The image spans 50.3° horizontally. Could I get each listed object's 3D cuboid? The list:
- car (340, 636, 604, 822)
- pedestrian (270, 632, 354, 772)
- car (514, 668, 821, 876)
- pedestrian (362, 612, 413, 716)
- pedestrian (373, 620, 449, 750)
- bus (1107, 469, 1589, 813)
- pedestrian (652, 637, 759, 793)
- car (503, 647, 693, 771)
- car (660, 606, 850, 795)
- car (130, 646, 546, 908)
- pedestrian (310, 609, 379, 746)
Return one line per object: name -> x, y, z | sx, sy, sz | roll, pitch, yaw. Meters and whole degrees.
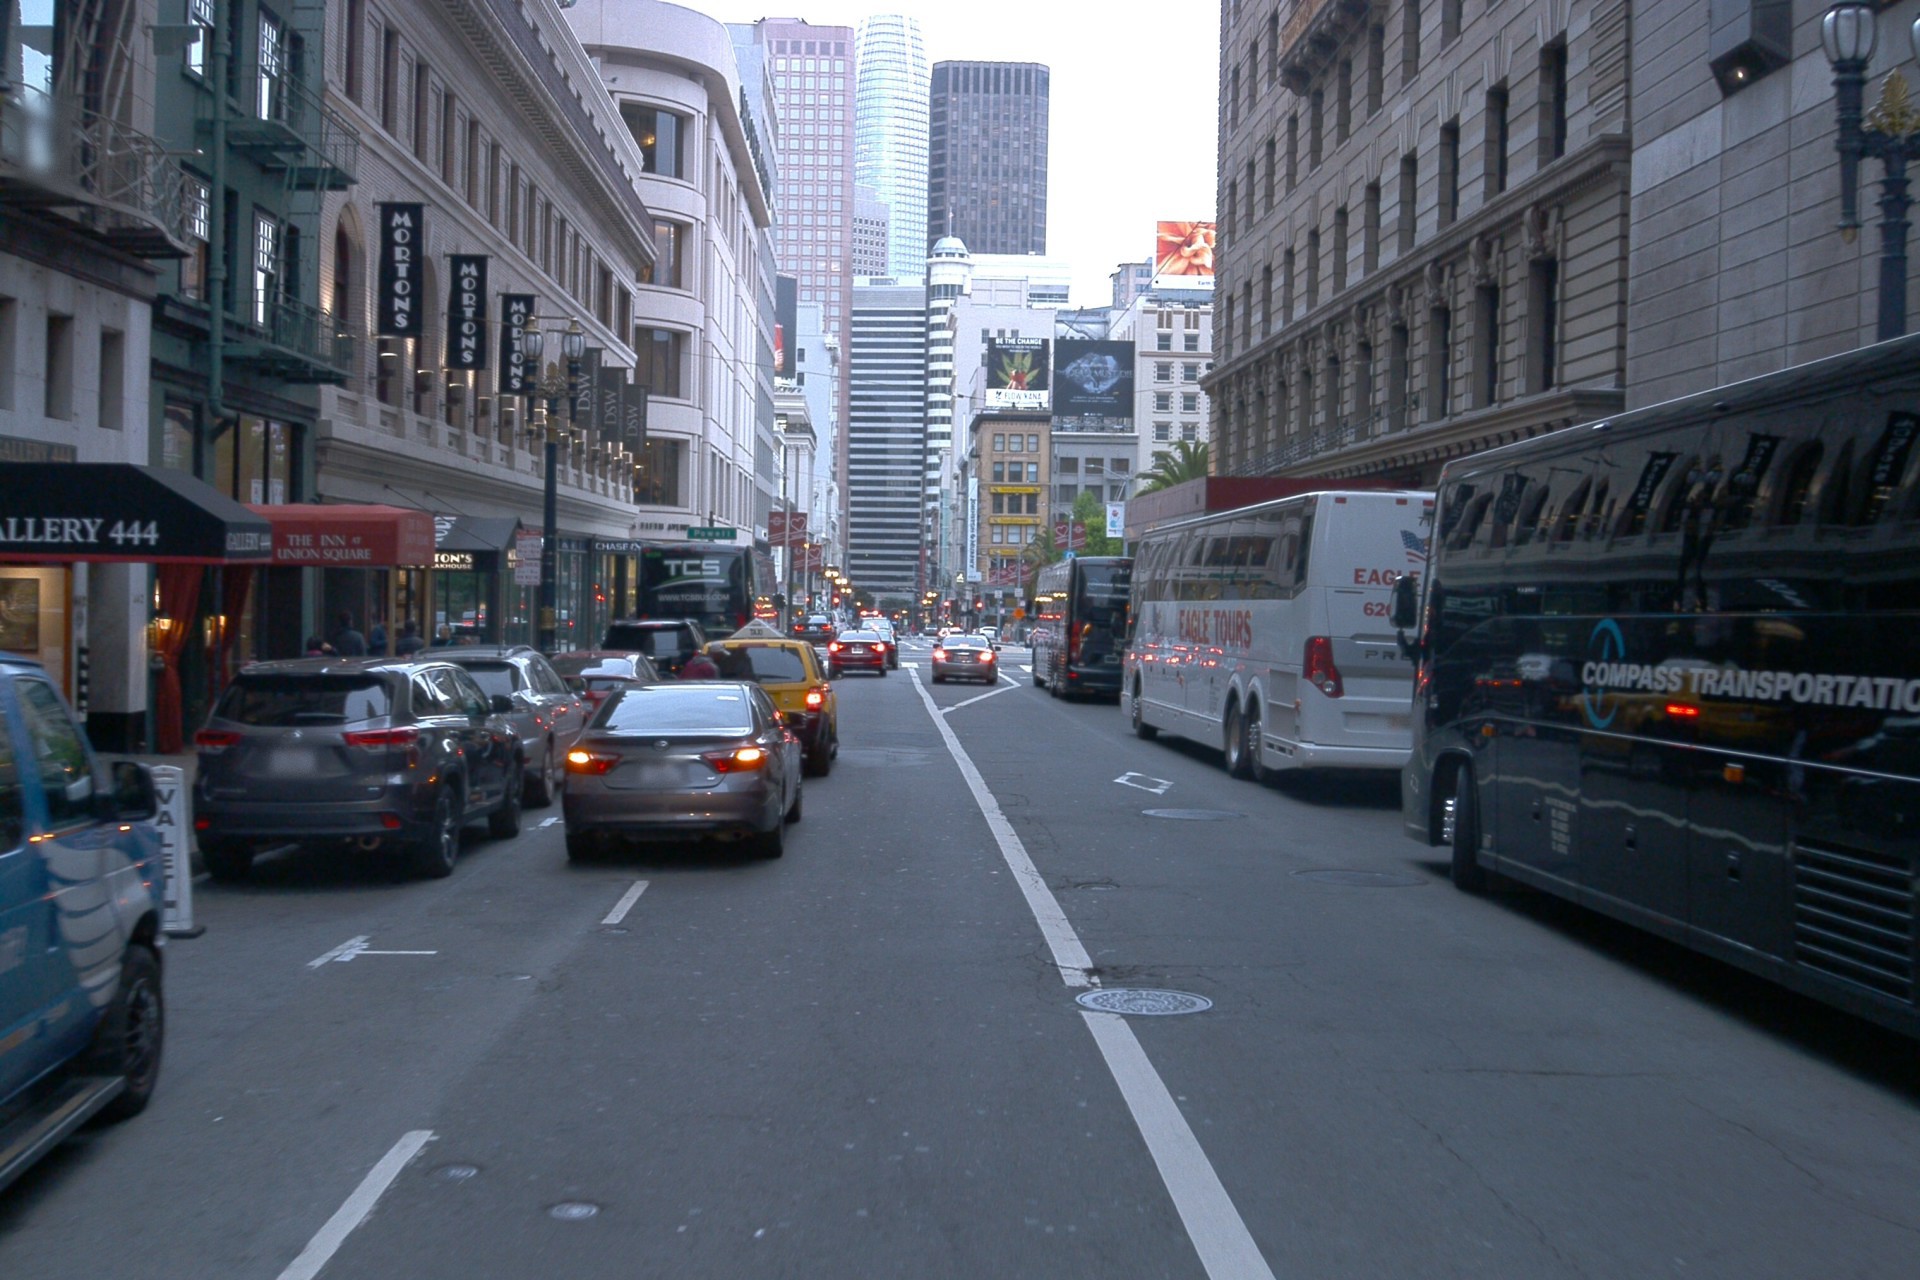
car -> -5.240, 0.882, 22.596 | 2.092, 1.810, 4.552 | 0, 1, -4
pedestrian -> -7.949, 0.749, 25.128 | 0.802, 1.690, 0.869 | 0, 1, -5
car -> -2.451, 1.069, 18.441 | 2.149, 1.510, 4.905 | 0, 1, -1
pedestrian -> -10.166, 0.414, 36.341 | 0.687, 1.830, 0.715 | 0, 1, 2
pedestrian -> -8.115, 0.652, 30.263 | 0.918, 1.900, 0.883 | 0, 1, -3
bus -> 4.792, -0.054, 29.603 | 3.307, 3.770, 14.118 | 0, 1, -4
pedestrian -> -2.965, 0.853, 23.830 | 0.912, 1.760, 0.856 | 1, 1, 44
car -> -5.076, 0.922, 29.256 | 2.096, 1.570, 4.513 | 0, 1, -2
car -> -2.492, 0.672, 26.049 | 2.088, 2.172, 4.974 | 0, 1, -2
car -> -4.990, 0.995, 17.240 | 2.182, 1.830, 4.884 | 0, 1, -2
pedestrian -> -9.018, 0.532, 29.984 | 0.794, 1.980, 0.883 | 0, 1, -4
